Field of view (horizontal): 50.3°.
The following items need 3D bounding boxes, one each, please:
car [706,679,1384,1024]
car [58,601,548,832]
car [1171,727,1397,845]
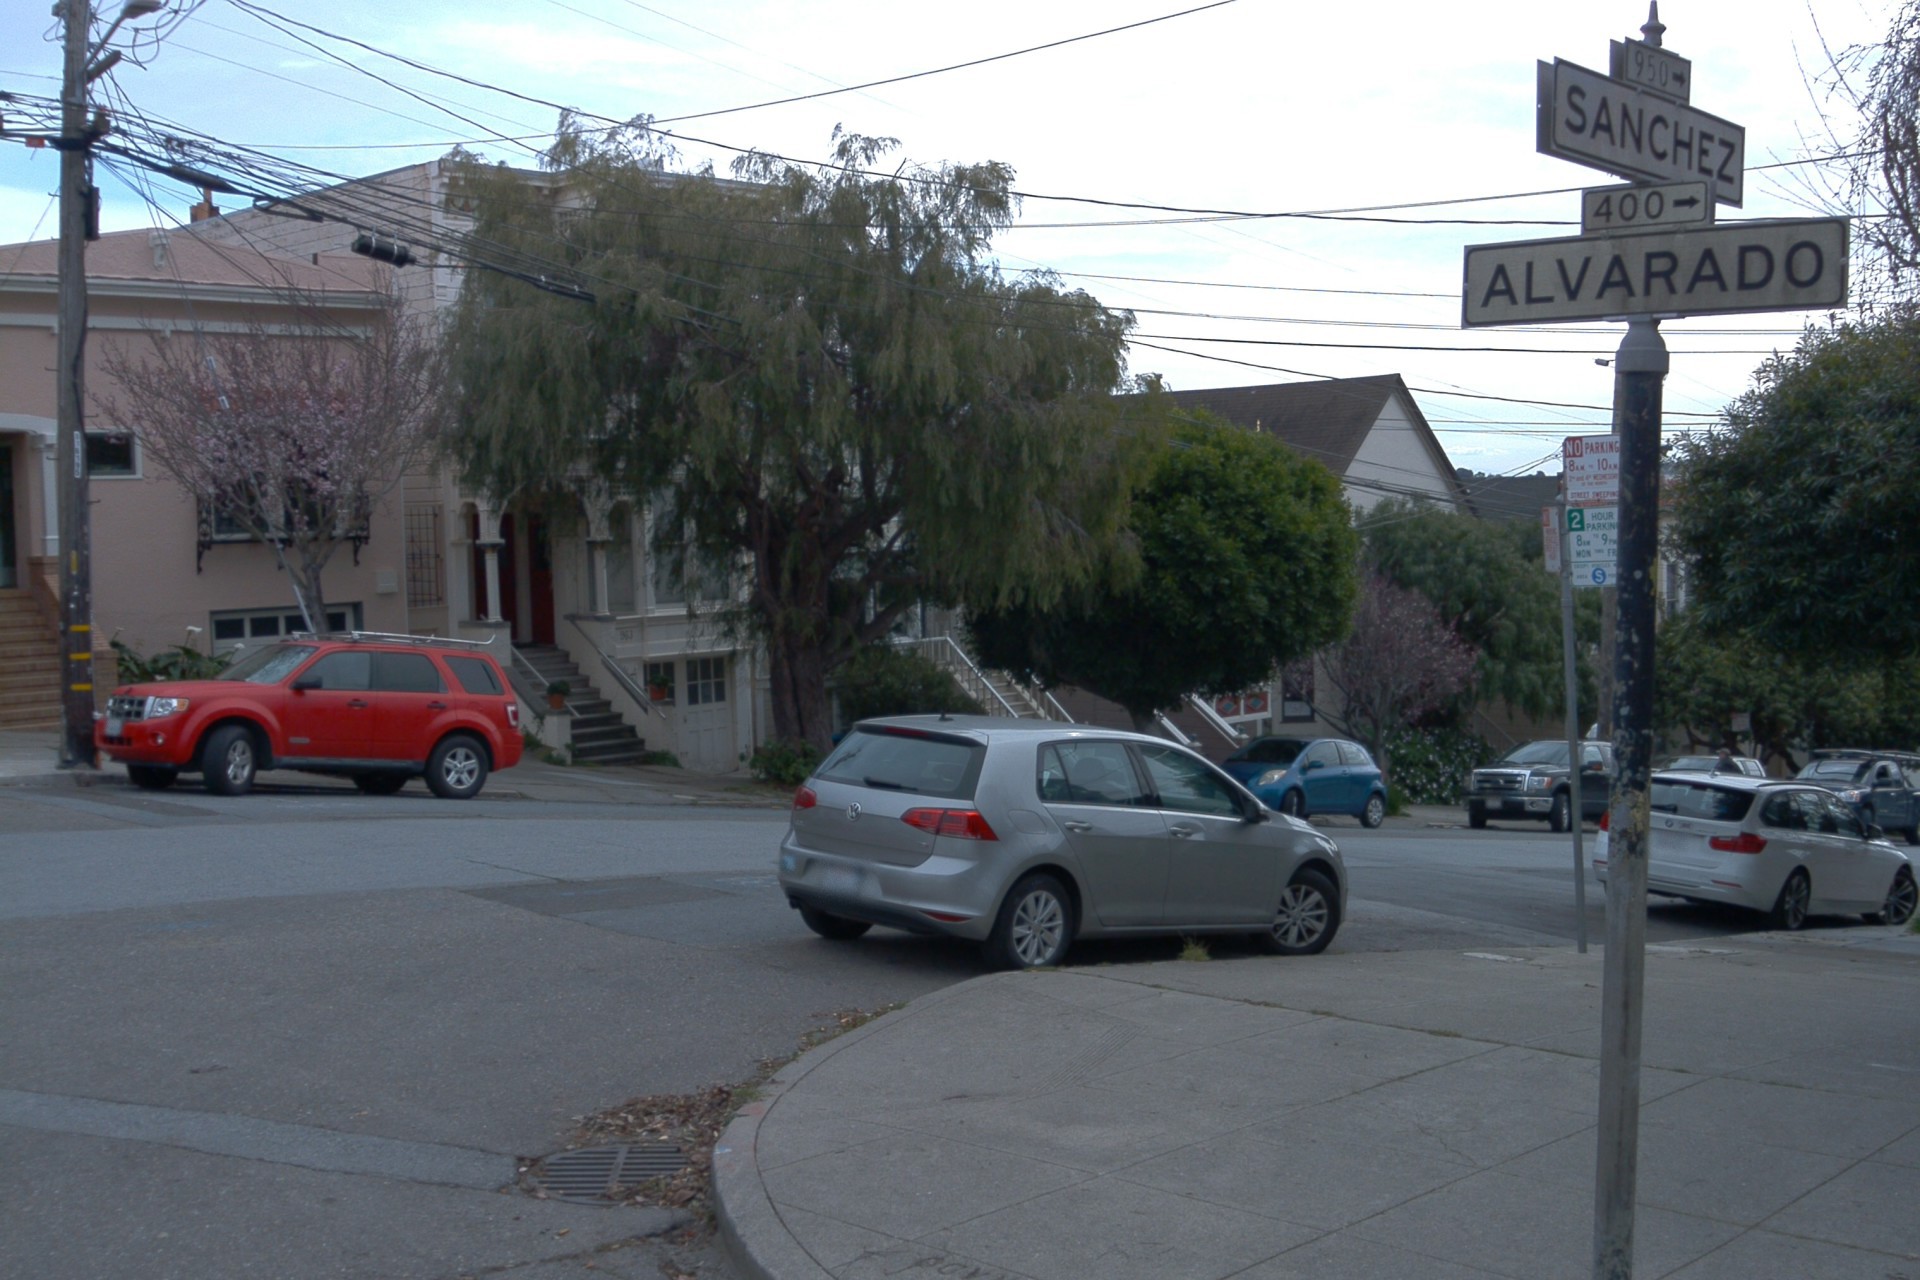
[{"bbox_3d":[0.669,1.154,12.961,2.126,1.720,4.090,2,1,43],"label":"car"},{"bbox_3d":[-6.880,0.726,21.728,2.106,2.180,4.456,2,1,44],"label":"car"},{"bbox_3d":[5.481,2.388,34.357,1.954,1.685,3.776,2,1,42],"label":"car"}]
